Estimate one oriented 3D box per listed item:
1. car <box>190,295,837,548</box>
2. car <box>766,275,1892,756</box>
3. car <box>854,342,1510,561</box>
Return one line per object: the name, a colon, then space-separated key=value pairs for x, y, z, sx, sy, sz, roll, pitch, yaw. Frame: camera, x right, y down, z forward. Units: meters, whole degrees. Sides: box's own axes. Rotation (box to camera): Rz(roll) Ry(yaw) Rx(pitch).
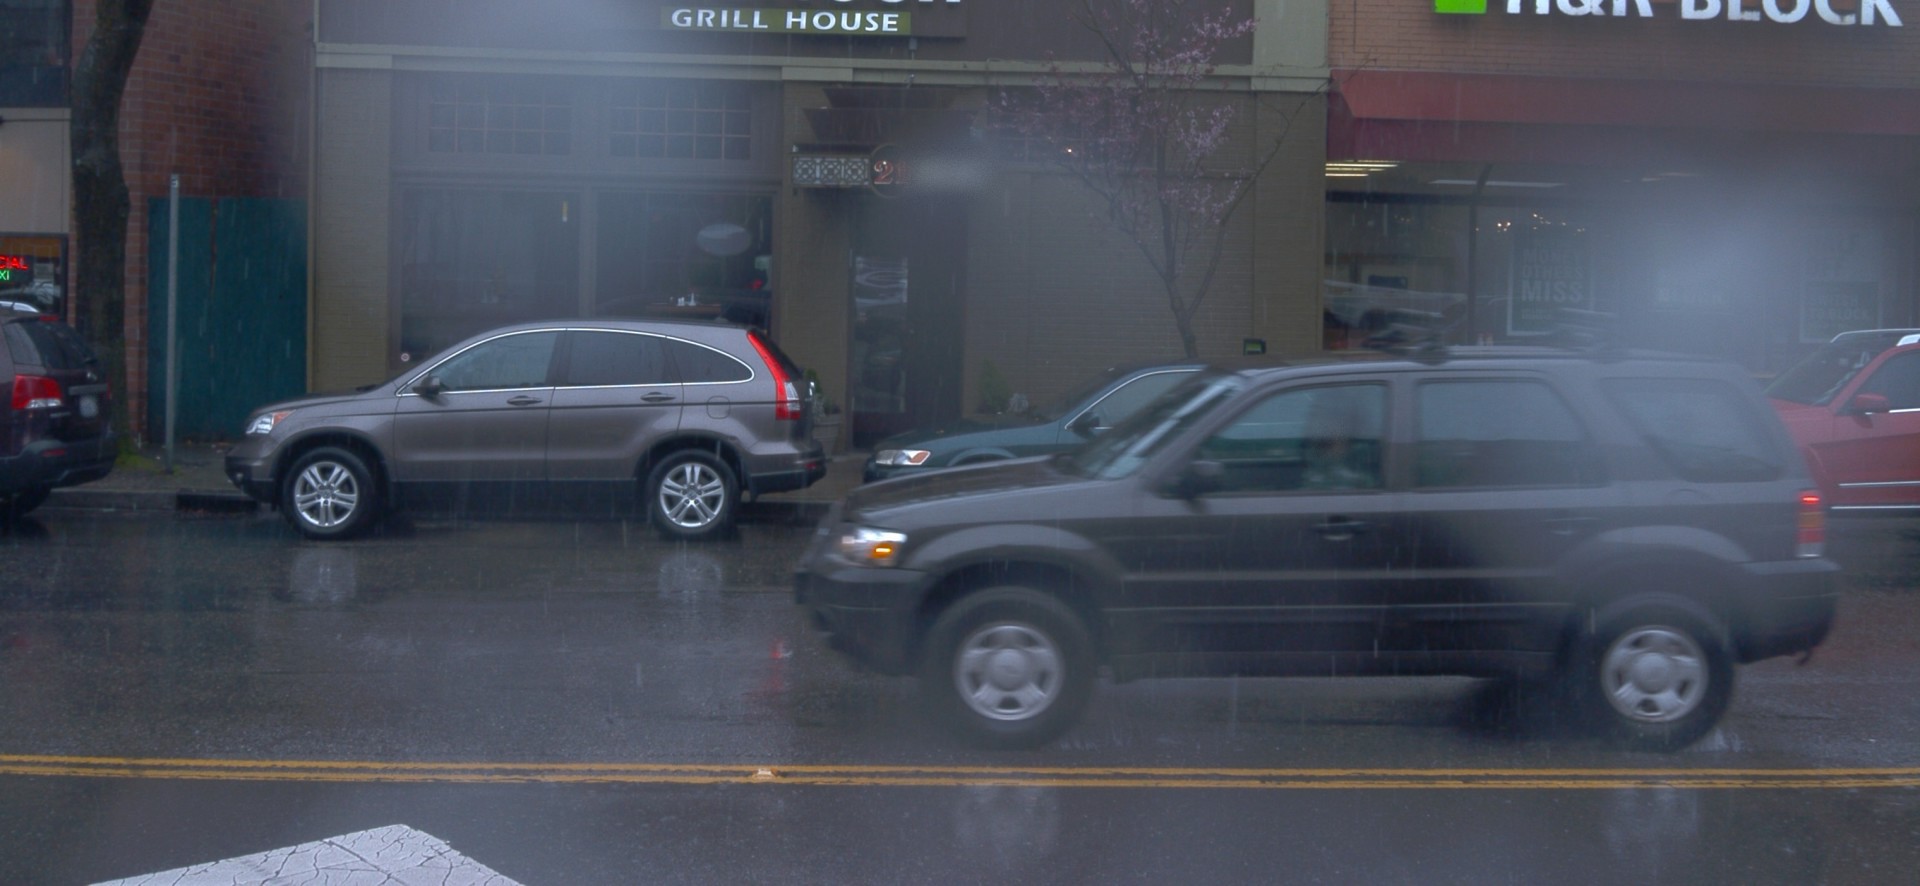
car: x=-3.279 y=-0.213 z=15.797 sx=4.605 sy=1.724 sz=1.918 roll=0 pitch=4 yaw=-5
car: x=1.487 y=0.228 z=9.338 sx=4.588 sy=1.854 sz=1.970 roll=1 pitch=4 yaw=-2
car: x=1.595 y=0.020 z=15.964 sx=4.796 sy=1.414 sz=1.988 roll=1 pitch=5 yaw=-2
